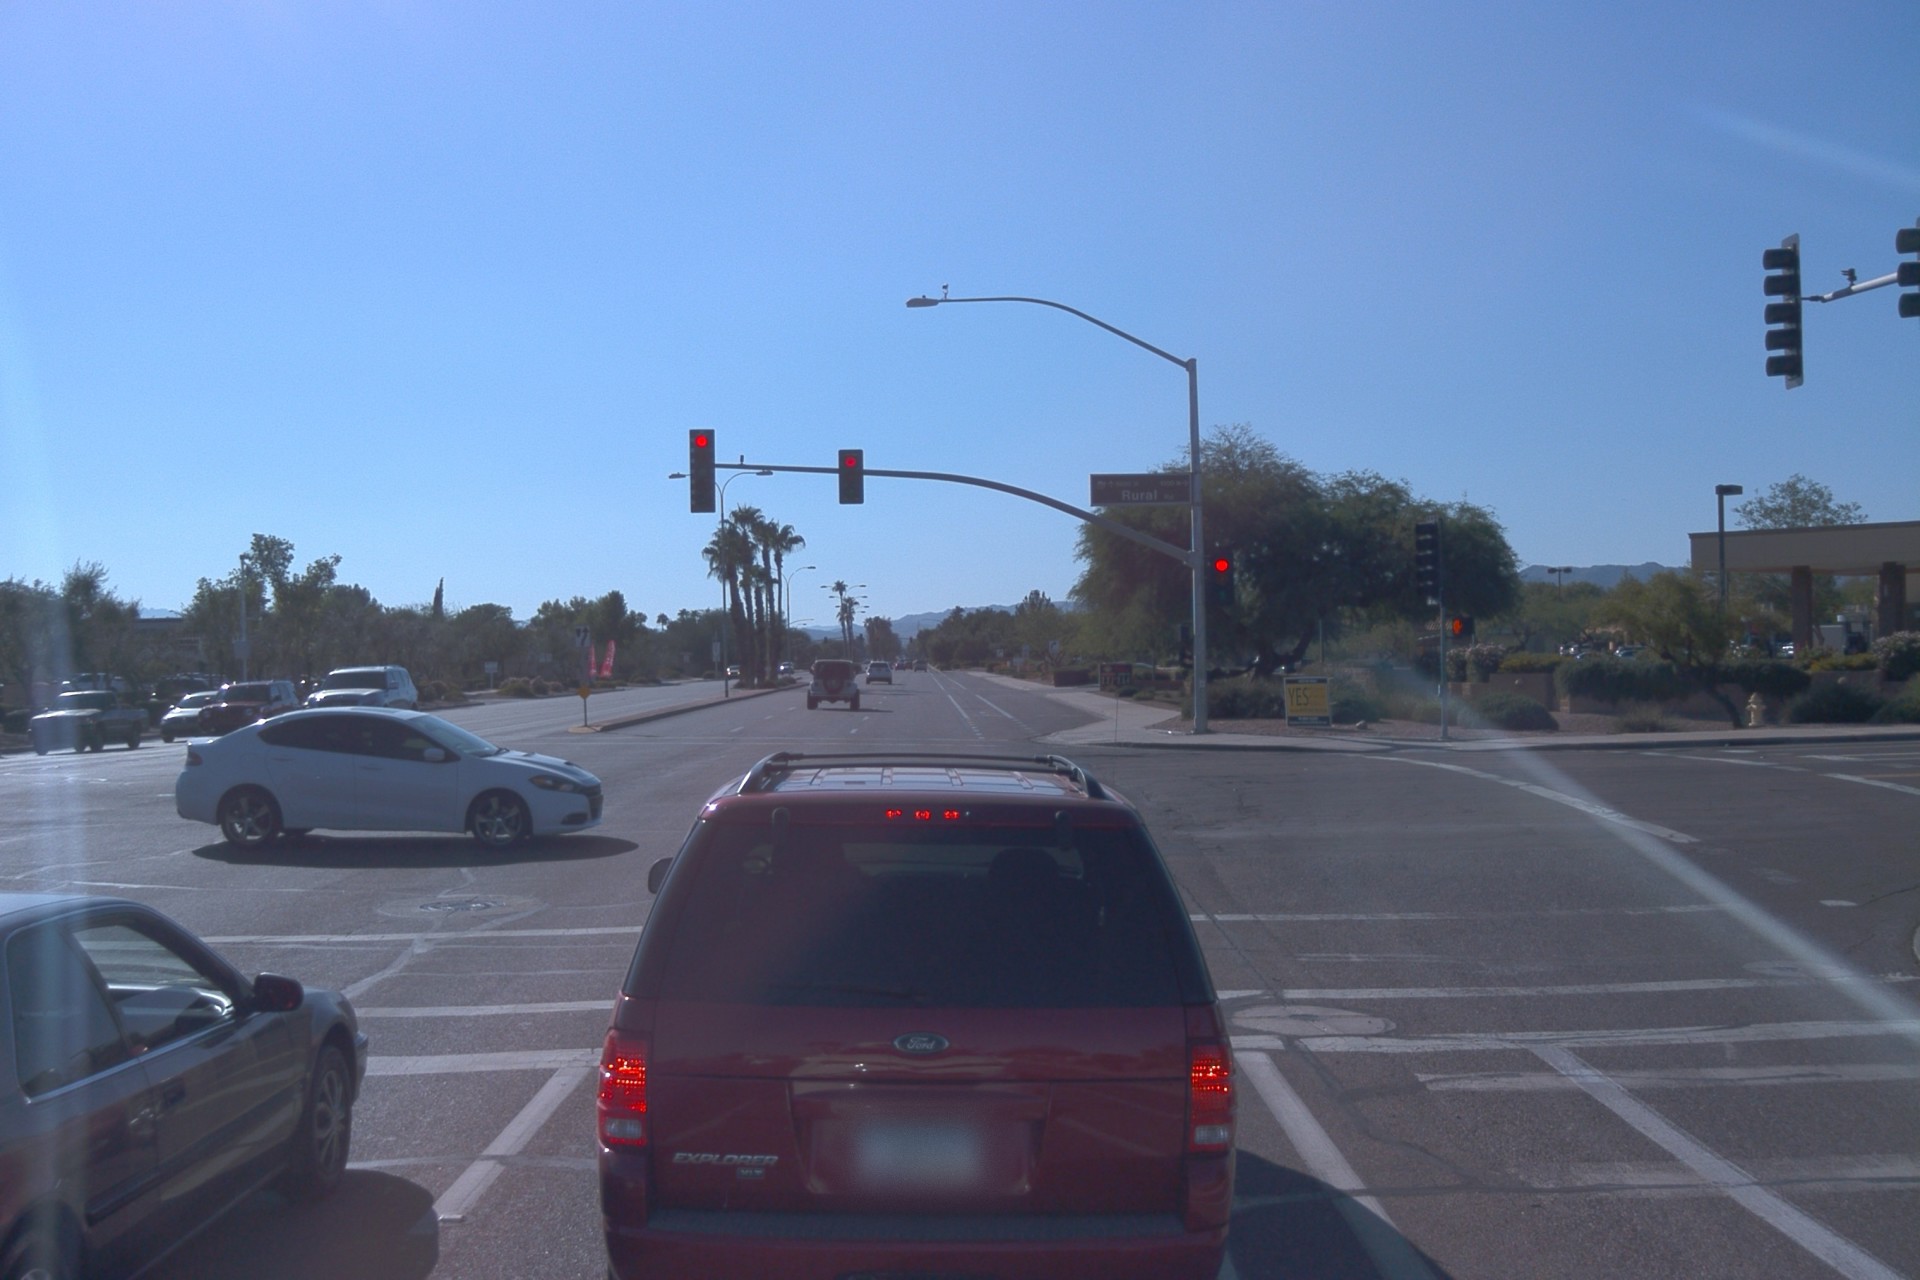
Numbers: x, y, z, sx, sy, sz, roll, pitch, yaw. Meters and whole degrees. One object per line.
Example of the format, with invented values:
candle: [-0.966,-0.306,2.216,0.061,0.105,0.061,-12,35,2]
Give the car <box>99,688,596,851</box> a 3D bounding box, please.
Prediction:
car: [-6.511,1.364,22.572,4.747,1.620,2.099,1,-1,0]

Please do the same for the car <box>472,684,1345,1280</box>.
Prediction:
car: [-0.179,1.201,7.458,2.169,2.040,4.462,1,-1,-1]
